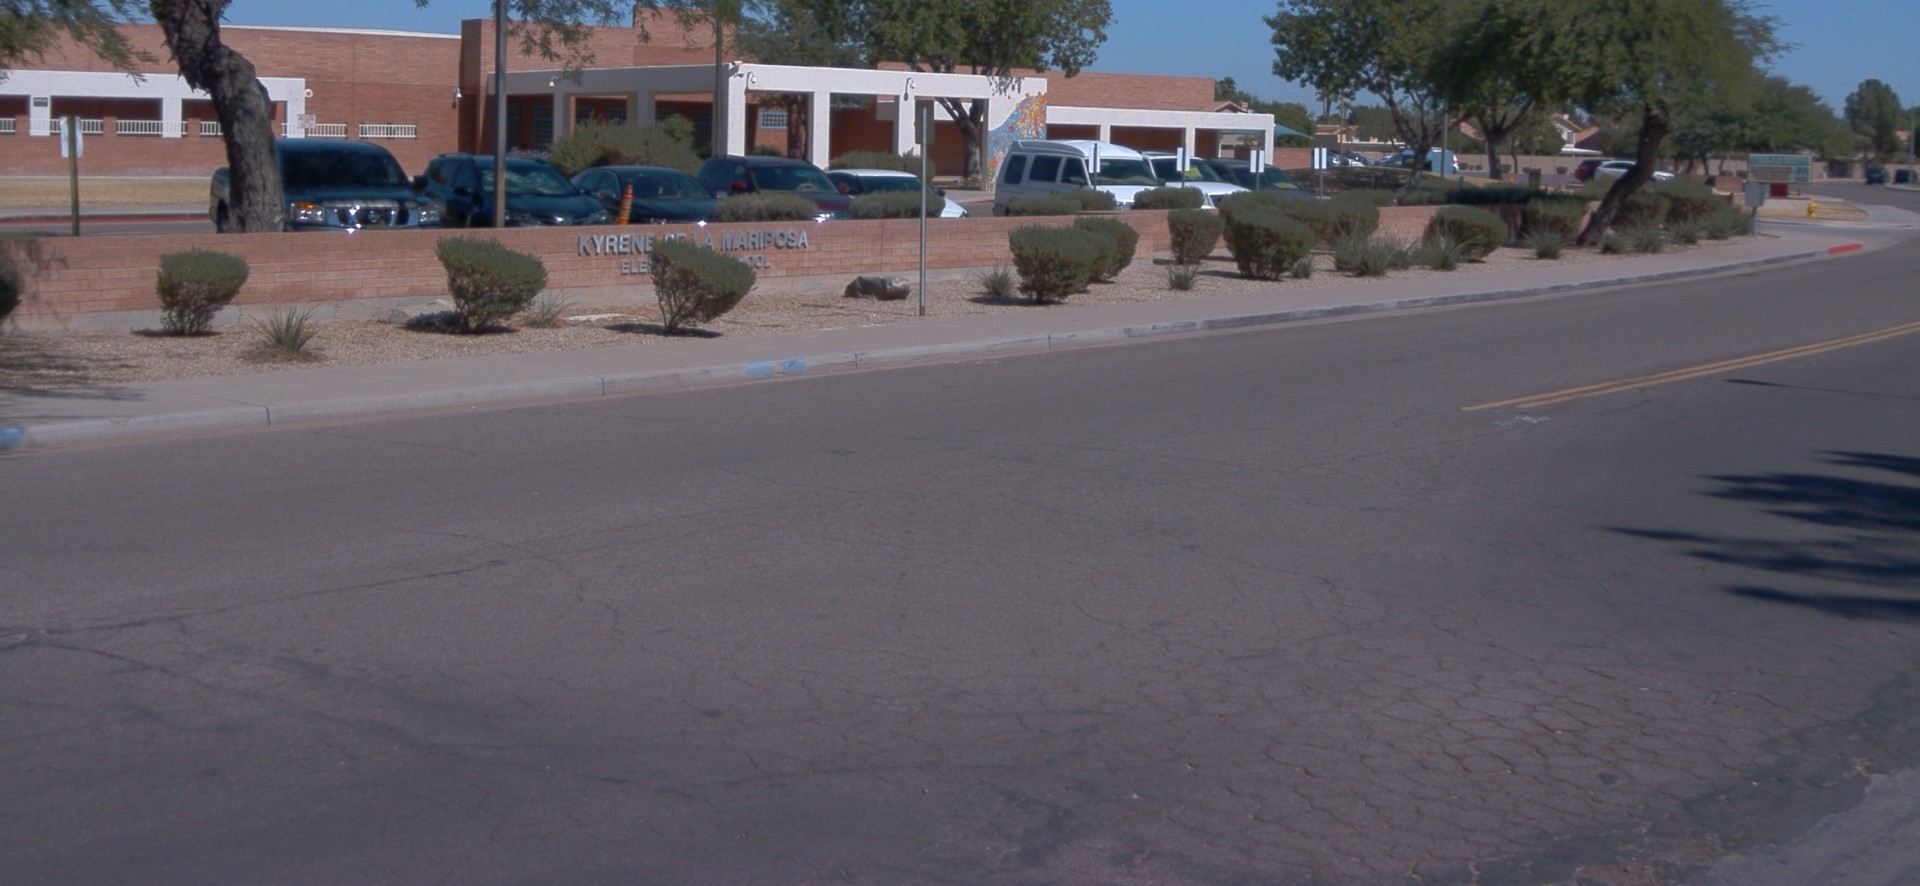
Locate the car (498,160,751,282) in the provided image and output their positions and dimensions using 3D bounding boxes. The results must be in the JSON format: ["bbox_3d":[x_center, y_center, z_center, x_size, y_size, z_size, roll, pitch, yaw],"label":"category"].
[{"bbox_3d":[-5.657,-3.677,34.442,2.268,1.863,5.003,-2,6,-34],"label":"car"}]

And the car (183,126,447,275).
[{"bbox_3d":[-9.410,-3.461,29.911,2.296,1.923,5.633,-2,6,-32],"label":"car"}]

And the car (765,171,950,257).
[{"bbox_3d":[-1.987,-4.294,39.003,1.882,1.514,4.211,-2,6,-28],"label":"car"}]

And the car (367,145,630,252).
[{"bbox_3d":[-7.195,-3.724,31.940,2.270,1.504,4.952,-3,6,-34],"label":"car"}]
